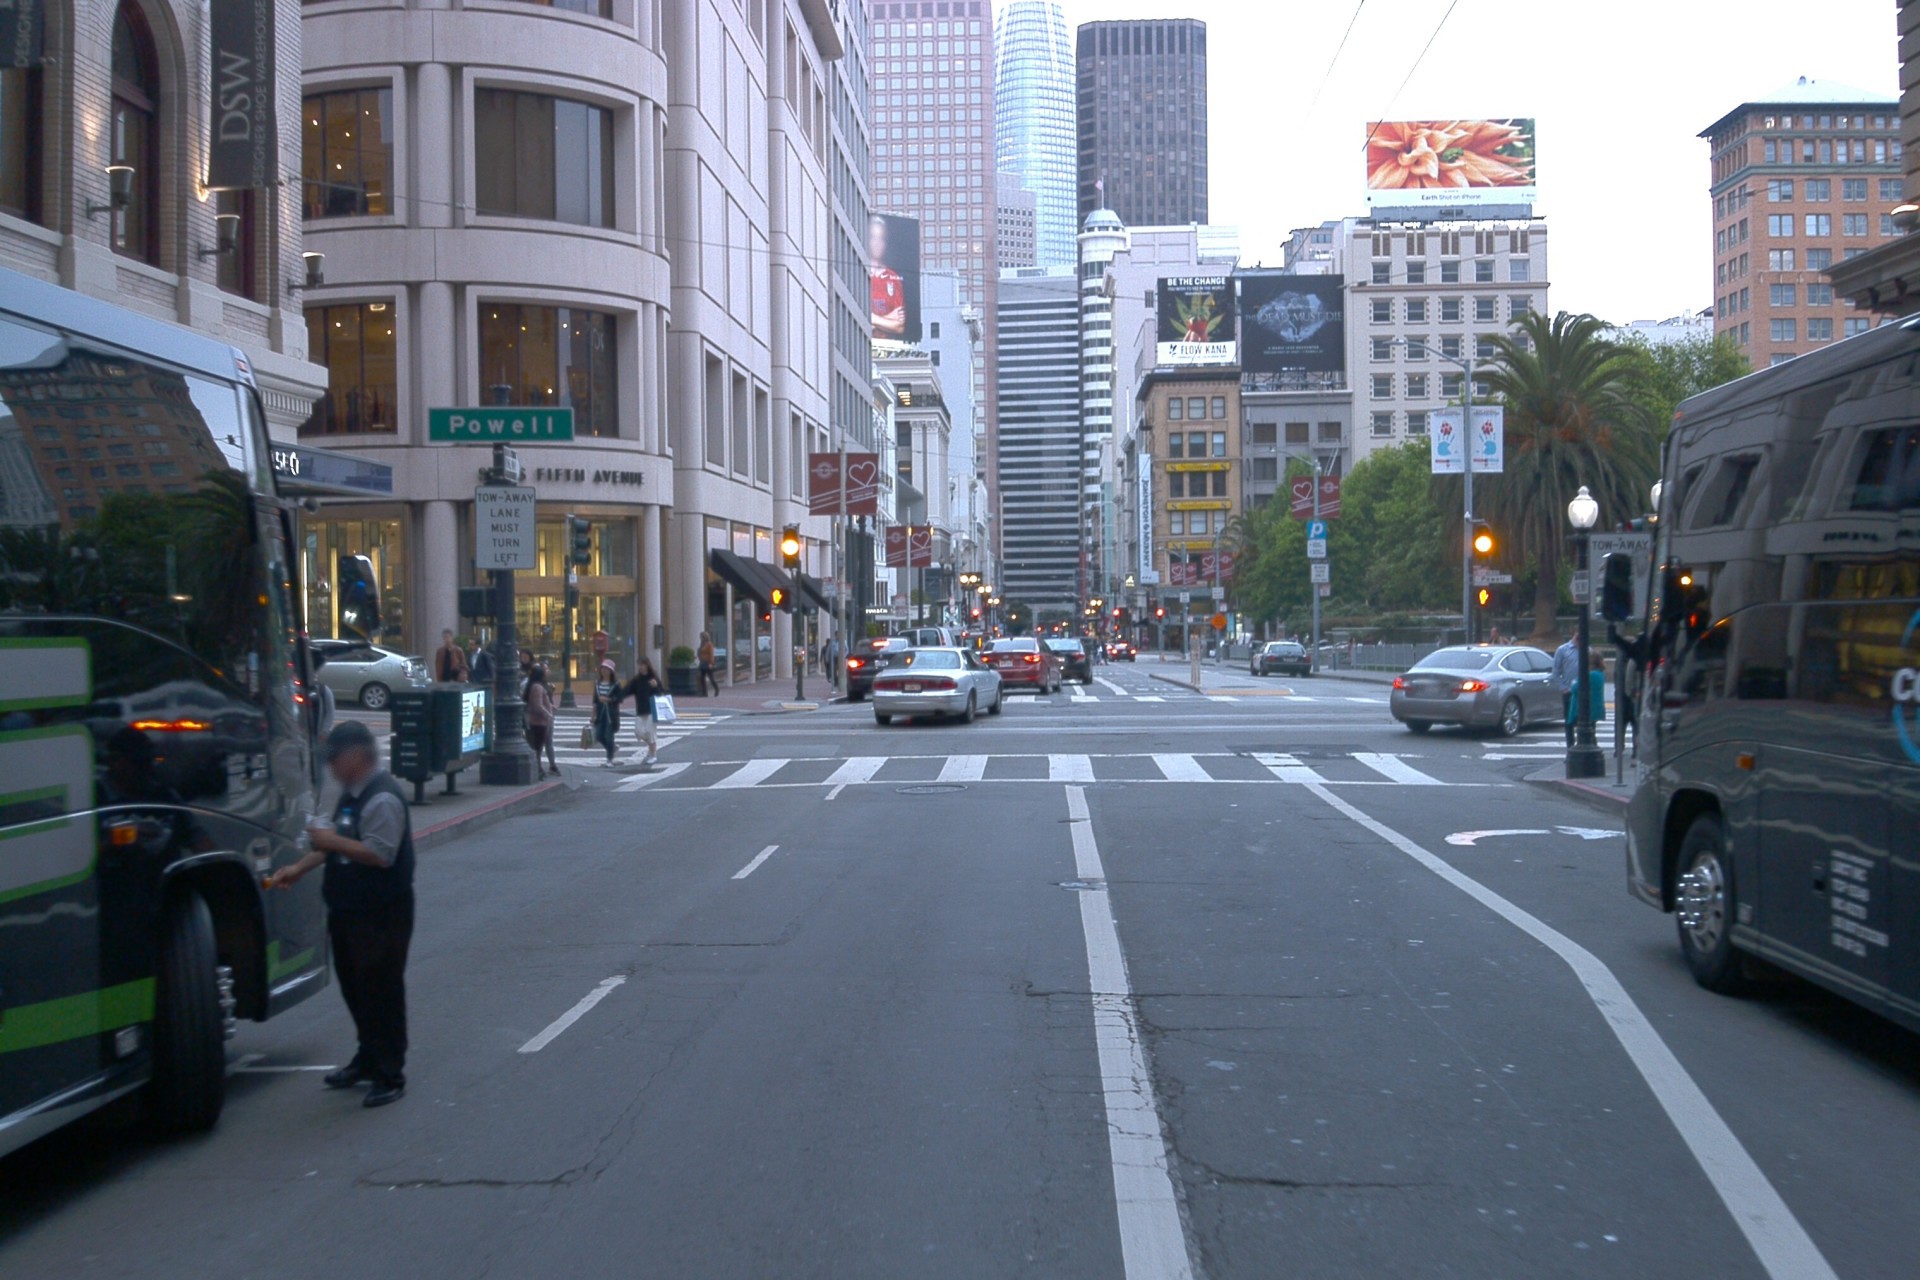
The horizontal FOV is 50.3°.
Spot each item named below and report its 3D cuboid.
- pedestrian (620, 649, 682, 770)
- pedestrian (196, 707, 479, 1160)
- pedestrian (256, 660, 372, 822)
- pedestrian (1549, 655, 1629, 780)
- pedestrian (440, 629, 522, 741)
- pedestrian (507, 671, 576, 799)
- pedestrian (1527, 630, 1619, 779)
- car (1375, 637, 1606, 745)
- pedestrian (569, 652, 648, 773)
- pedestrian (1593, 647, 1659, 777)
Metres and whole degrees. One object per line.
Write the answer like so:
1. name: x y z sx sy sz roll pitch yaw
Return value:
1. pedestrian: -4.741 1.055 31.344 0.930 1.810 0.919 0 1 -10
2. pedestrian: -2.757 1.238 9.070 0.973 1.830 0.750 0 1 34
3. pedestrian: -7.044 1.083 22.336 0.897 1.700 1.007 0 1 4
4. pedestrian: 8.822 1.073 28.702 0.843 1.710 0.805 0 1 -2
5. pedestrian: -8.238 0.761 35.213 1.001 1.890 0.999 0 1 17
6. pedestrian: -5.520 1.245 27.020 0.740 1.660 0.667 0 1 5
7. pedestrian: 8.825 0.911 29.479 0.956 2.100 0.839 0 1 -19
8. car: 9.041 0.809 34.690 2.003 1.682 4.128 1 1 44
9. pedestrian: -5.362 1.090 31.226 0.901 1.800 0.953 0 1 12
10. pedestrian: 9.553 1.023 29.353 0.671 1.840 0.743 0 1 -2
